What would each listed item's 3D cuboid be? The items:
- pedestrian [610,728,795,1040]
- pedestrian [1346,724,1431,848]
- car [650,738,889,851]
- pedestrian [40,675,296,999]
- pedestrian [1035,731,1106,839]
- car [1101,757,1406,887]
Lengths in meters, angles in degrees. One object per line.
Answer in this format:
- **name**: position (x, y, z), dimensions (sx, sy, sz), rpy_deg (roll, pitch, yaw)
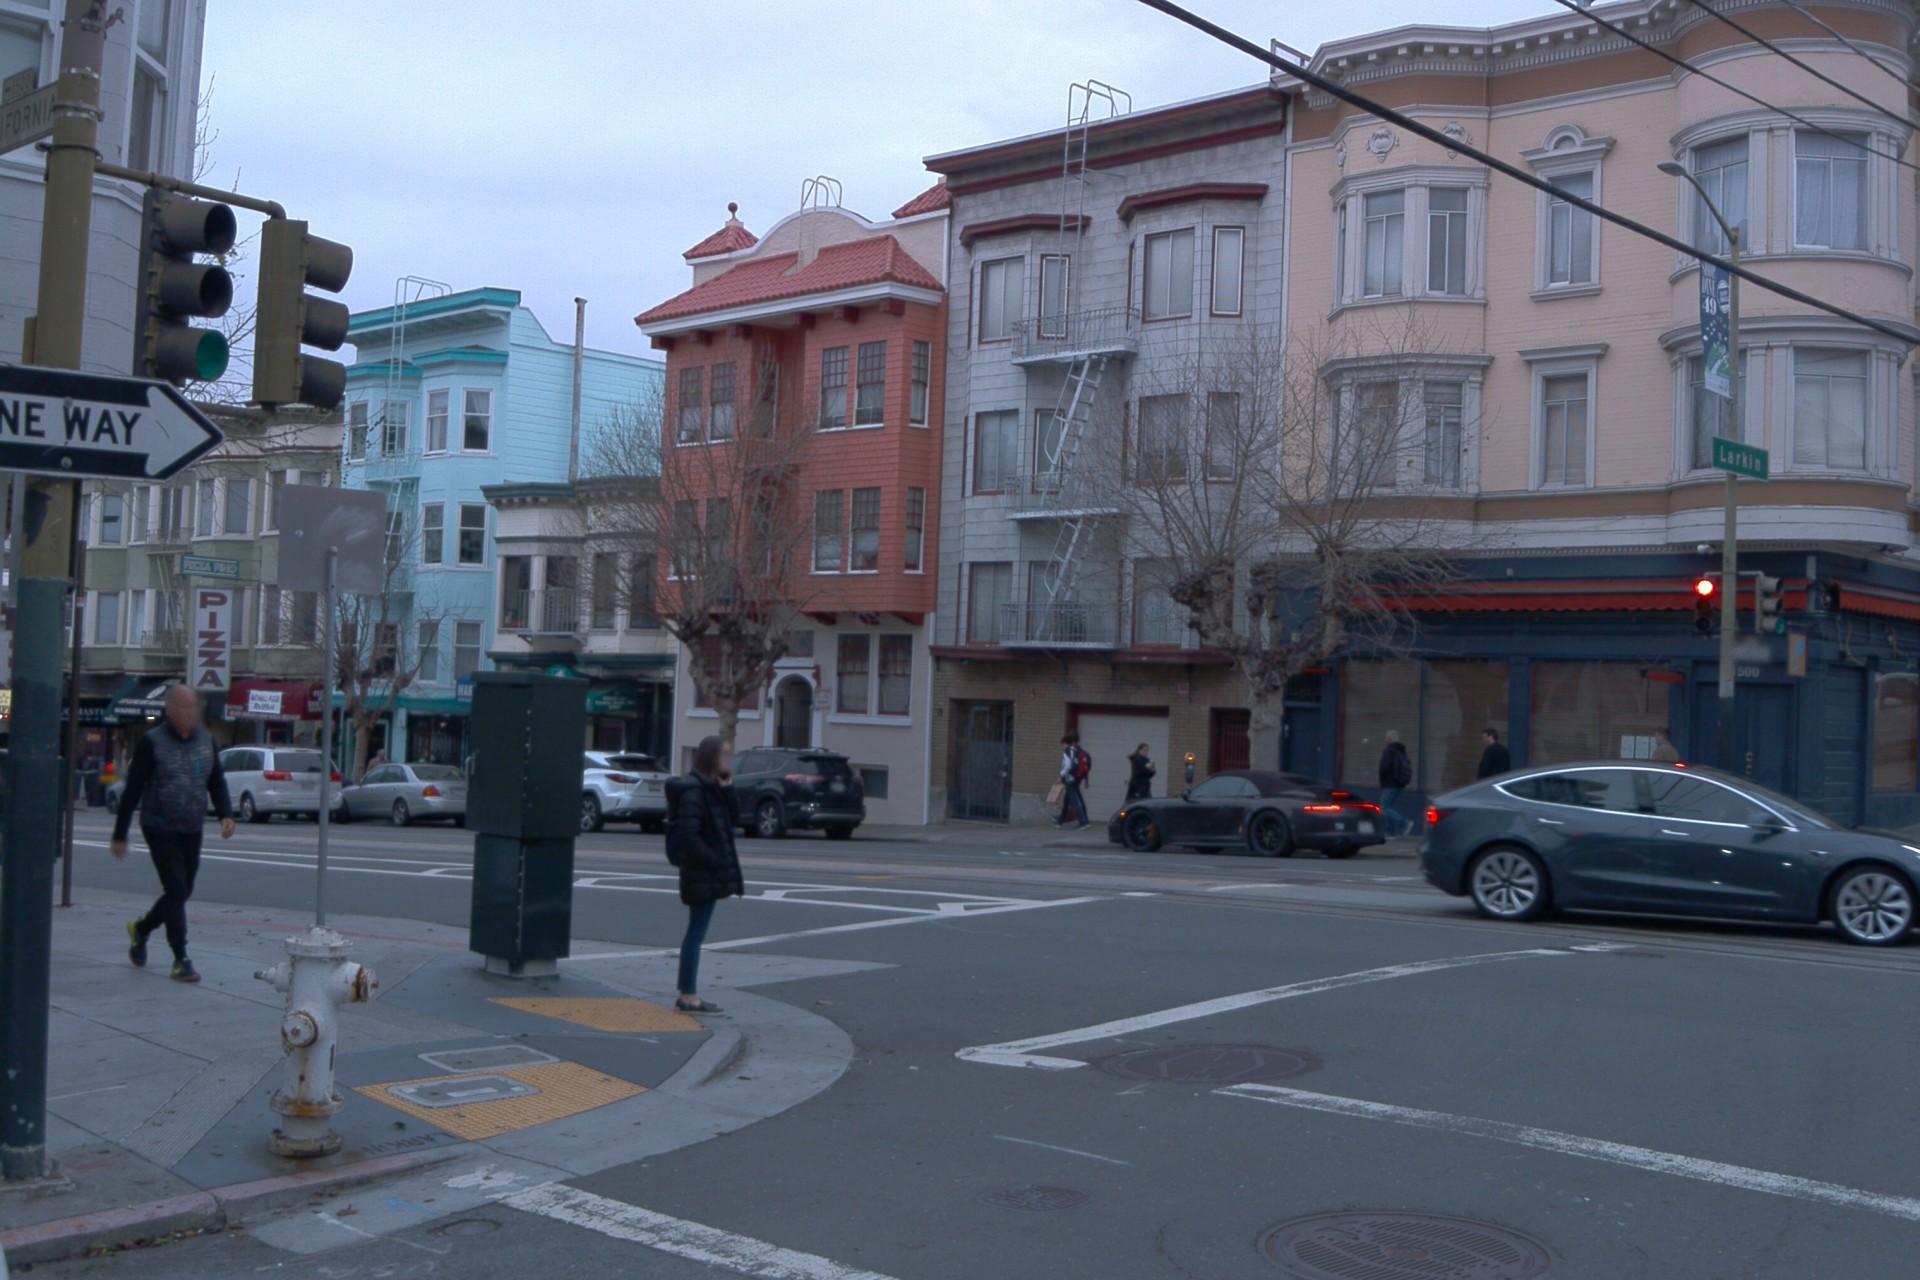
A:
- **pedestrian**: position (-1.515, 1.394, 12.137), dimensions (0.846, 1.692, 0.707), rpy_deg (-1, 1, -35)
- **pedestrian**: position (7.015, 2.372, 33.803), dimensions (1.100, 1.930, 0.772), rpy_deg (1, 1, 45)
- **car**: position (-3.623, 2.833, 38.769), dimensions (4.423, 1.700, 2.100), rpy_deg (1, 1, 44)
- **pedestrian**: position (-4.599, 1.085, 11.975), dimensions (1.244, 1.716, 0.882), rpy_deg (1, 1, 40)
- **pedestrian**: position (2.038, 2.663, 38.158), dimensions (1.021, 1.900, 0.833), rpy_deg (1, 1, 42)
- **car**: position (4.281, 2.628, 30.588), dimensions (1.947, 1.460, 4.186), rpy_deg (-1, 1, -43)
